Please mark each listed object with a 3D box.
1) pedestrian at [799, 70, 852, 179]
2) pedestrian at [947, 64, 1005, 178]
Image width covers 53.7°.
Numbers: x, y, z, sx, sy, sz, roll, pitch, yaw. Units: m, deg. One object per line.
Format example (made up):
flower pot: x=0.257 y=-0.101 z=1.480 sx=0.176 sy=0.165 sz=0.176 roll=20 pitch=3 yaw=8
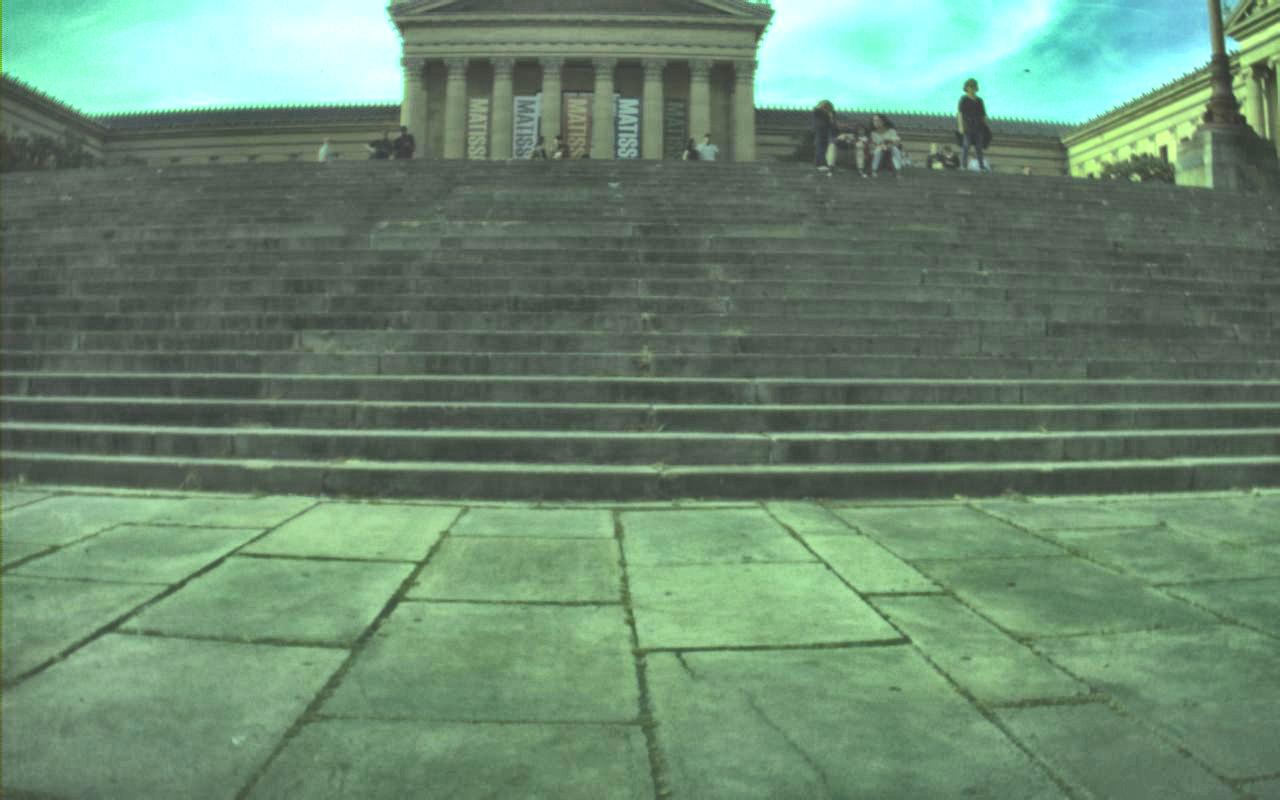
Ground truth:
pedestrian: x=2.883 y=-4.264 z=19.216 sx=0.720 sy=1.581 sz=0.769 roll=1 pitch=0 yaw=15
pedestrian: x=5.556 y=-4.594 z=20.036 sx=0.812 sy=1.776 sz=0.807 roll=0 pitch=0 yaw=7
